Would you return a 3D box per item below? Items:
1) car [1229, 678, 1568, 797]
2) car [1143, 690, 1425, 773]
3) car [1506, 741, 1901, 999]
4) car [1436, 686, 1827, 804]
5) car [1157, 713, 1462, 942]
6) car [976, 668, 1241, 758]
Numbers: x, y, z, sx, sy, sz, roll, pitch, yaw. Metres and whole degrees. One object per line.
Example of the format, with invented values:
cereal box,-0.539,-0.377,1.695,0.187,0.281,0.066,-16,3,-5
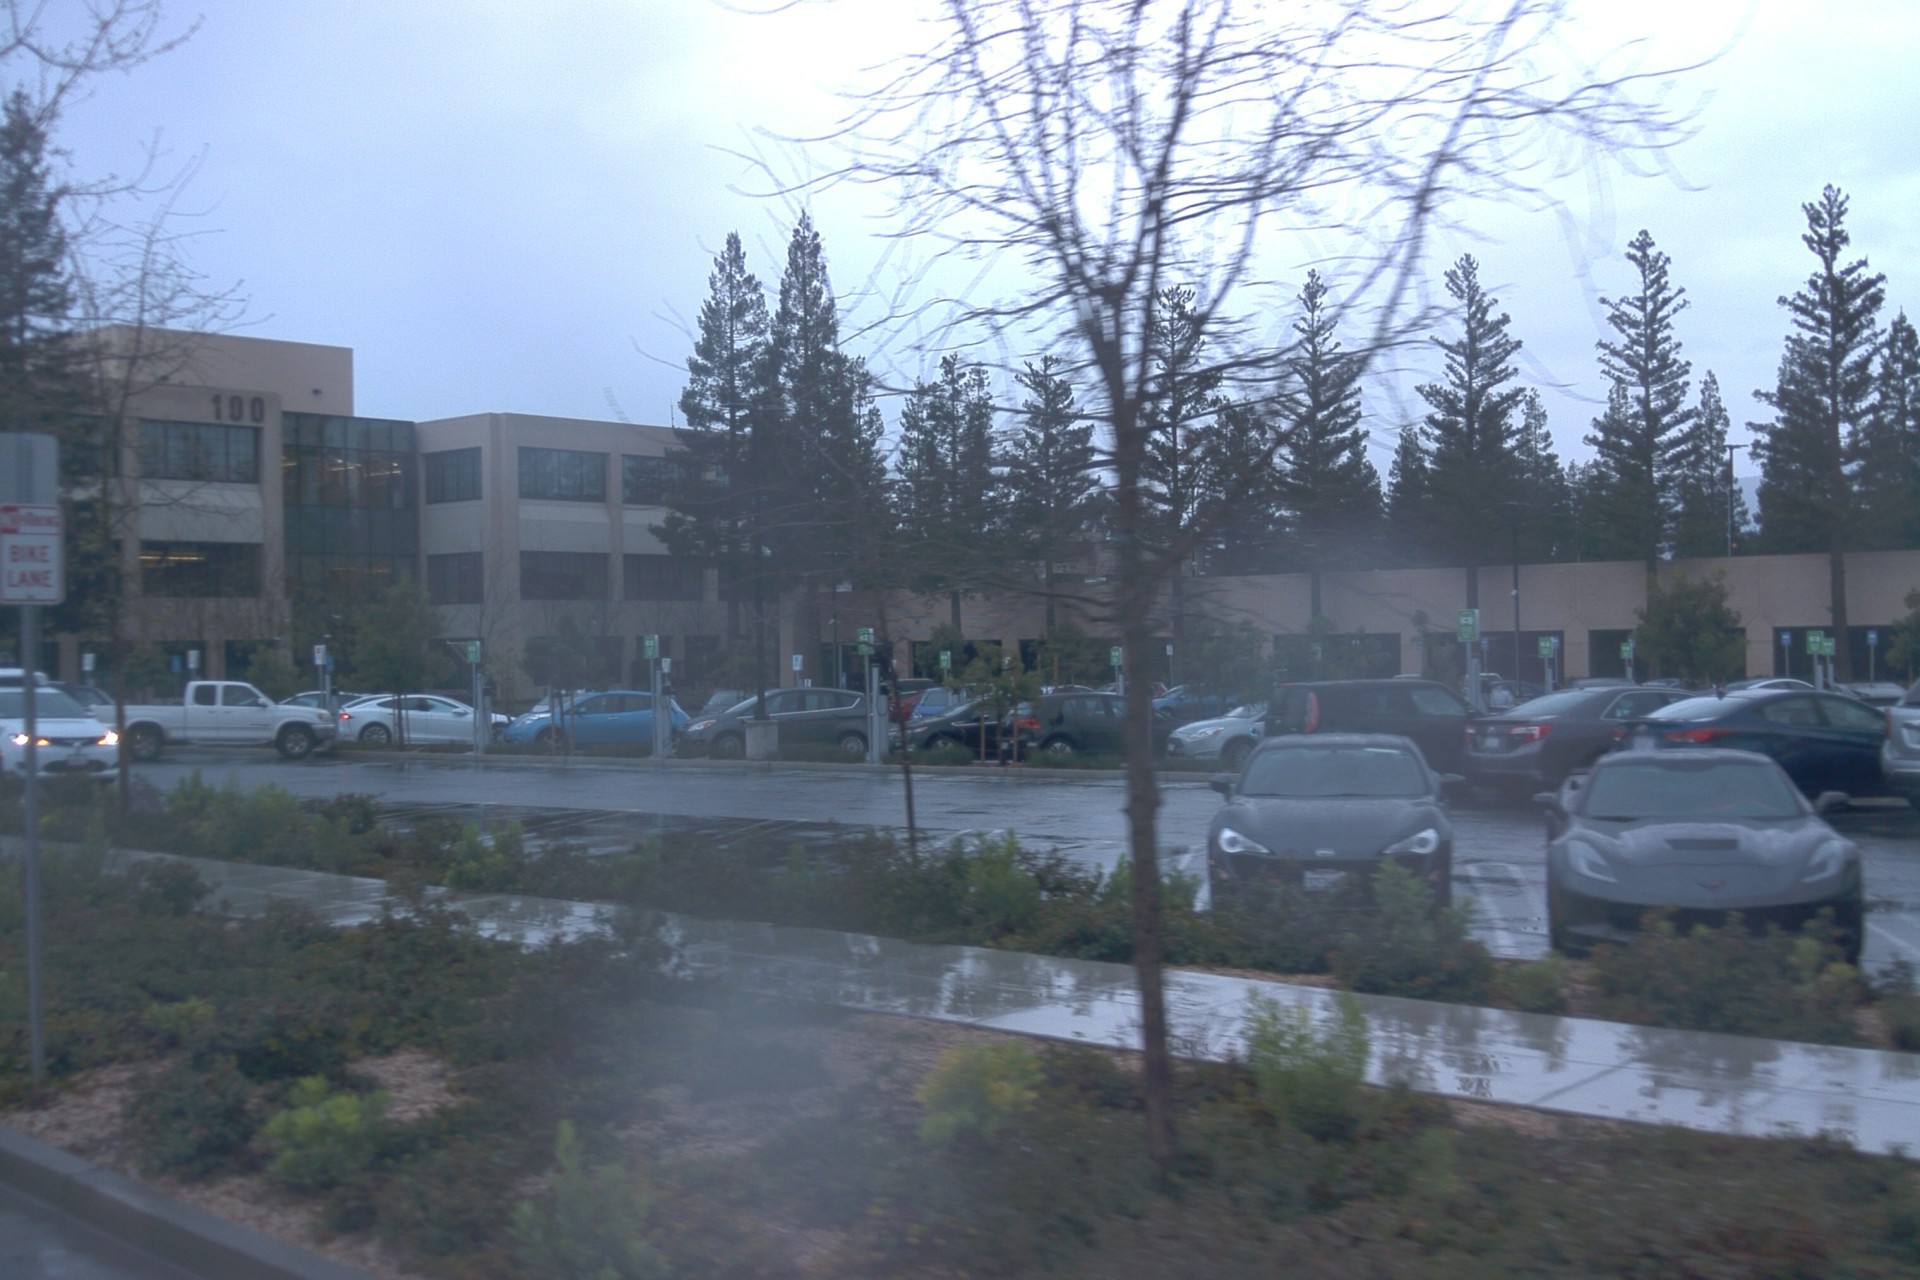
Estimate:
car,5.901,1.278,28.110,4.051,1.520,1.922,0,-1,-15
car,5.661,1.576,36.484,4.416,1.370,2.059,0,-1,-15
car,5.000,1.439,14.384,2.186,1.300,4.496,0,-1,17
car,8.435,1.276,26.158,4.448,1.380,1.886,0,-1,-20
car,2.864,1.339,16.244,2.010,1.430,4.226,0,-1,14
car,2.724,1.318,38.414,4.415,1.580,2.060,0,-1,-20
